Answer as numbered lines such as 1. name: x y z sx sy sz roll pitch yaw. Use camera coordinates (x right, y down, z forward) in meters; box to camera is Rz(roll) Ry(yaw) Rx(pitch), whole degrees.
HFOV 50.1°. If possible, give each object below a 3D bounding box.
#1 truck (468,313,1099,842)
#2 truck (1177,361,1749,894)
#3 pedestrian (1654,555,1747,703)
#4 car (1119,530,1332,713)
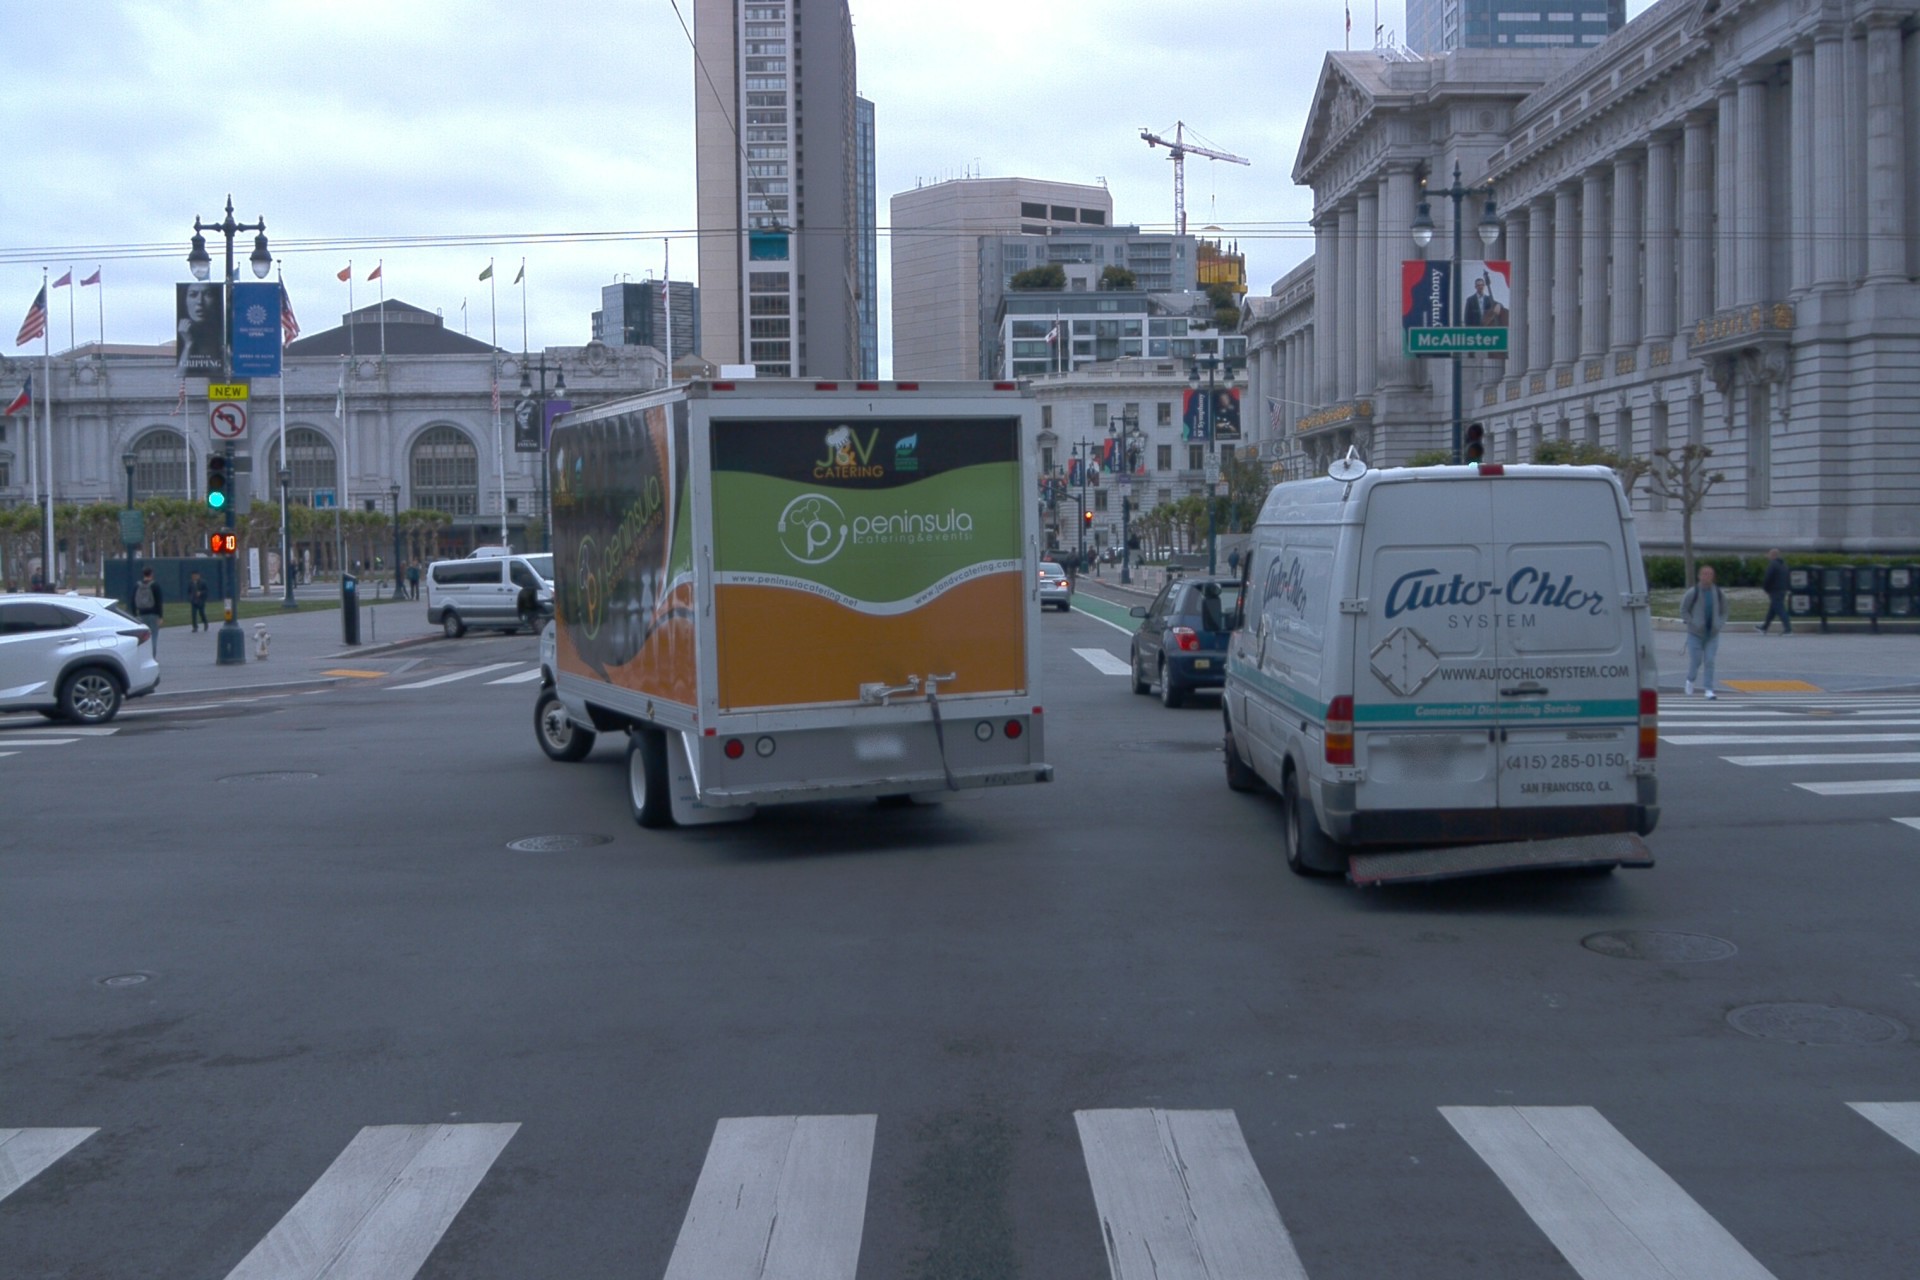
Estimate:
1. truck: -1.860 -0.452 16.753 2.907 3.300 7.310 -1 1 -24
2. truck: 3.030 -0.116 14.151 2.404 2.850 6.221 0 1 0
3. pedestrian: 9.469 -0.143 26.345 0.811 1.850 1.152 0 1 3
4. car: 3.048 -0.233 24.415 1.934 1.990 4.032 0 1 -1
